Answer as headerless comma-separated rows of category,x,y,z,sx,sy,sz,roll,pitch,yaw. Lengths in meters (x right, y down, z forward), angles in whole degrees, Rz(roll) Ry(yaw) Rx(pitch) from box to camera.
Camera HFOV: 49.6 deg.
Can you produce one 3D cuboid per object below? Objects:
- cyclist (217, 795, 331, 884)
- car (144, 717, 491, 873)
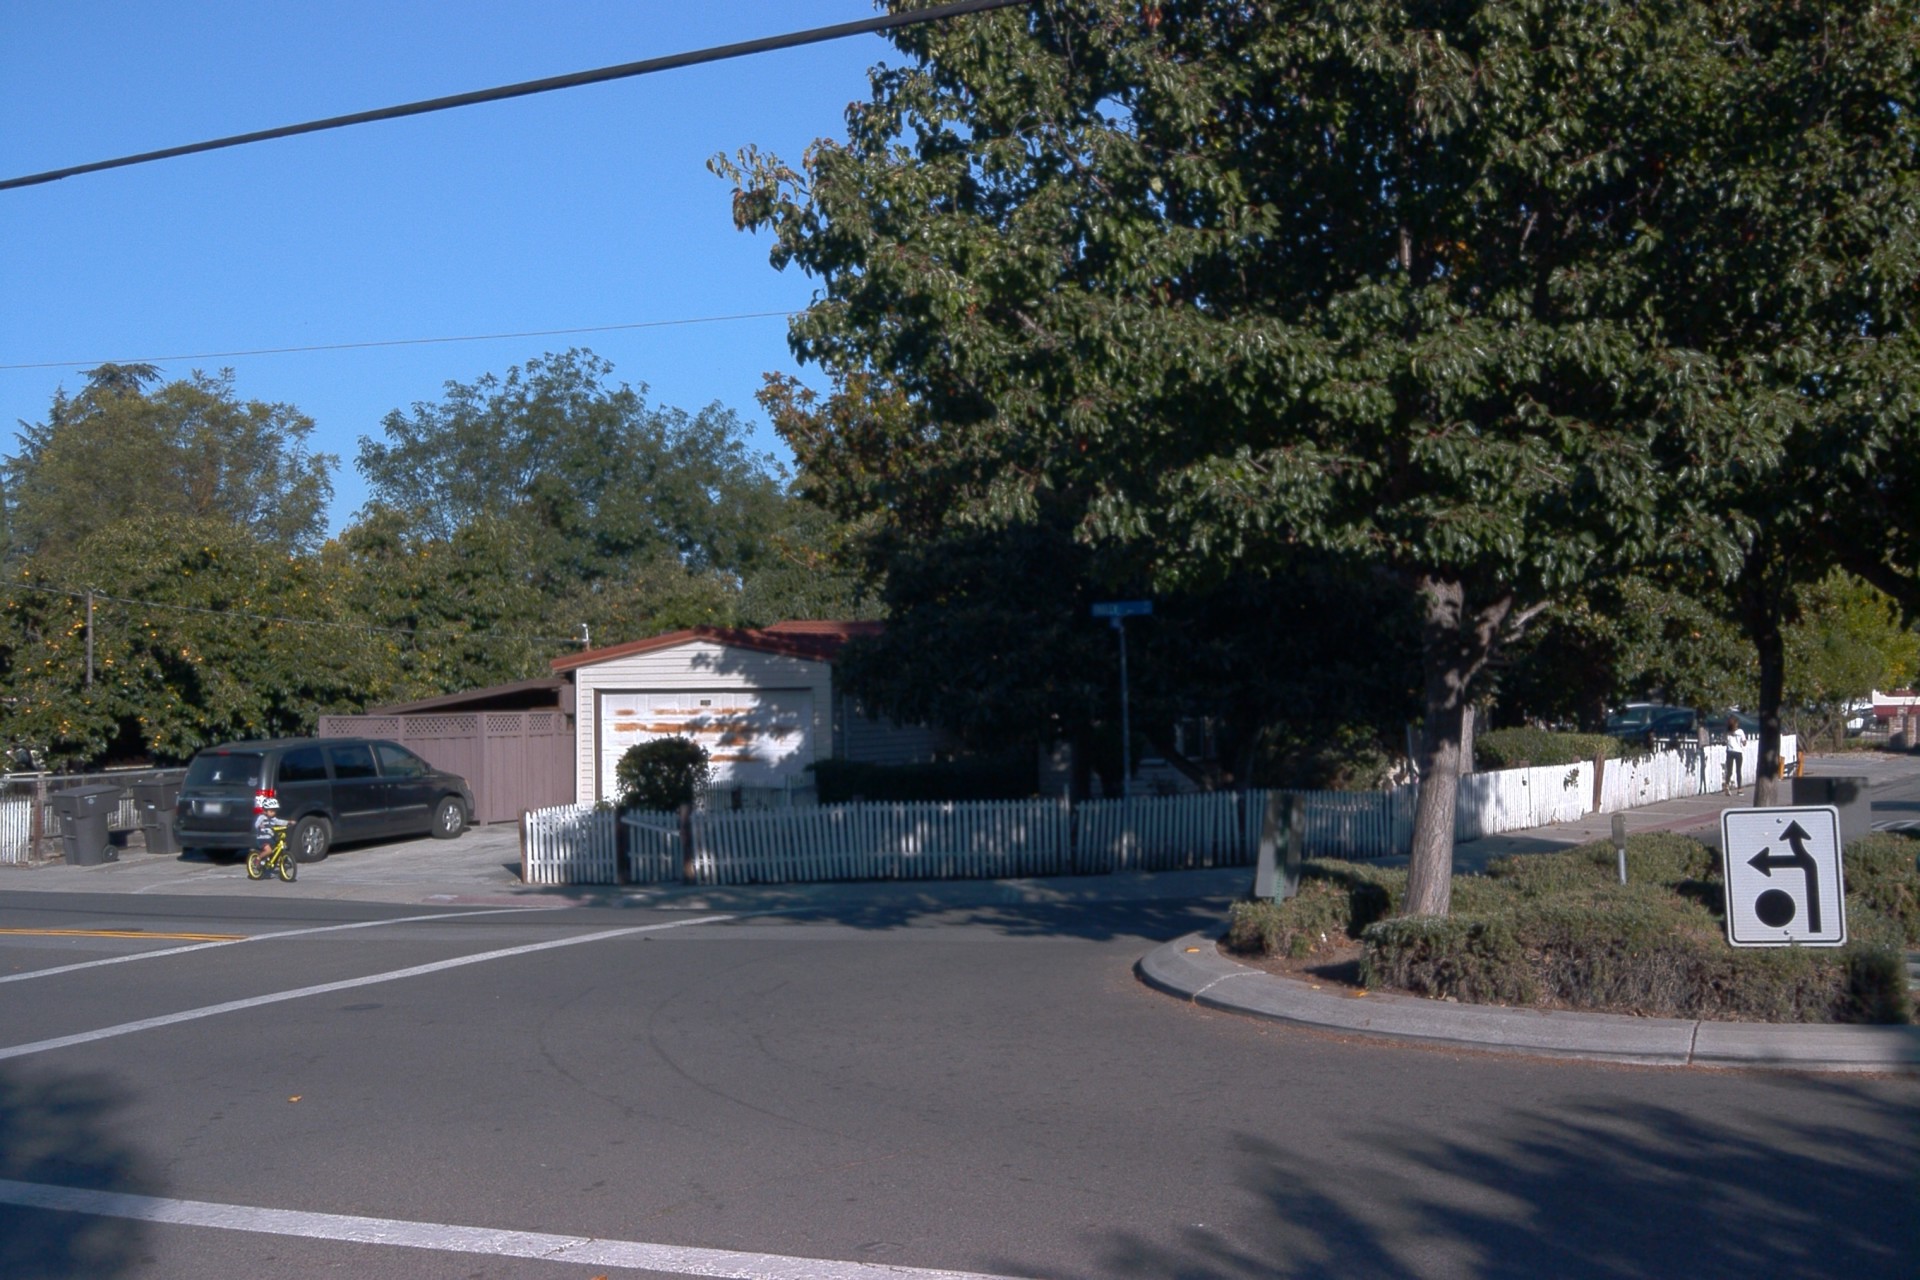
cyclist,-9.014,2.605,27.312,1.327,1.030,0.694,1,0,30
car,-9.487,2.228,31.178,2.140,1.930,4.988,1,0,25
